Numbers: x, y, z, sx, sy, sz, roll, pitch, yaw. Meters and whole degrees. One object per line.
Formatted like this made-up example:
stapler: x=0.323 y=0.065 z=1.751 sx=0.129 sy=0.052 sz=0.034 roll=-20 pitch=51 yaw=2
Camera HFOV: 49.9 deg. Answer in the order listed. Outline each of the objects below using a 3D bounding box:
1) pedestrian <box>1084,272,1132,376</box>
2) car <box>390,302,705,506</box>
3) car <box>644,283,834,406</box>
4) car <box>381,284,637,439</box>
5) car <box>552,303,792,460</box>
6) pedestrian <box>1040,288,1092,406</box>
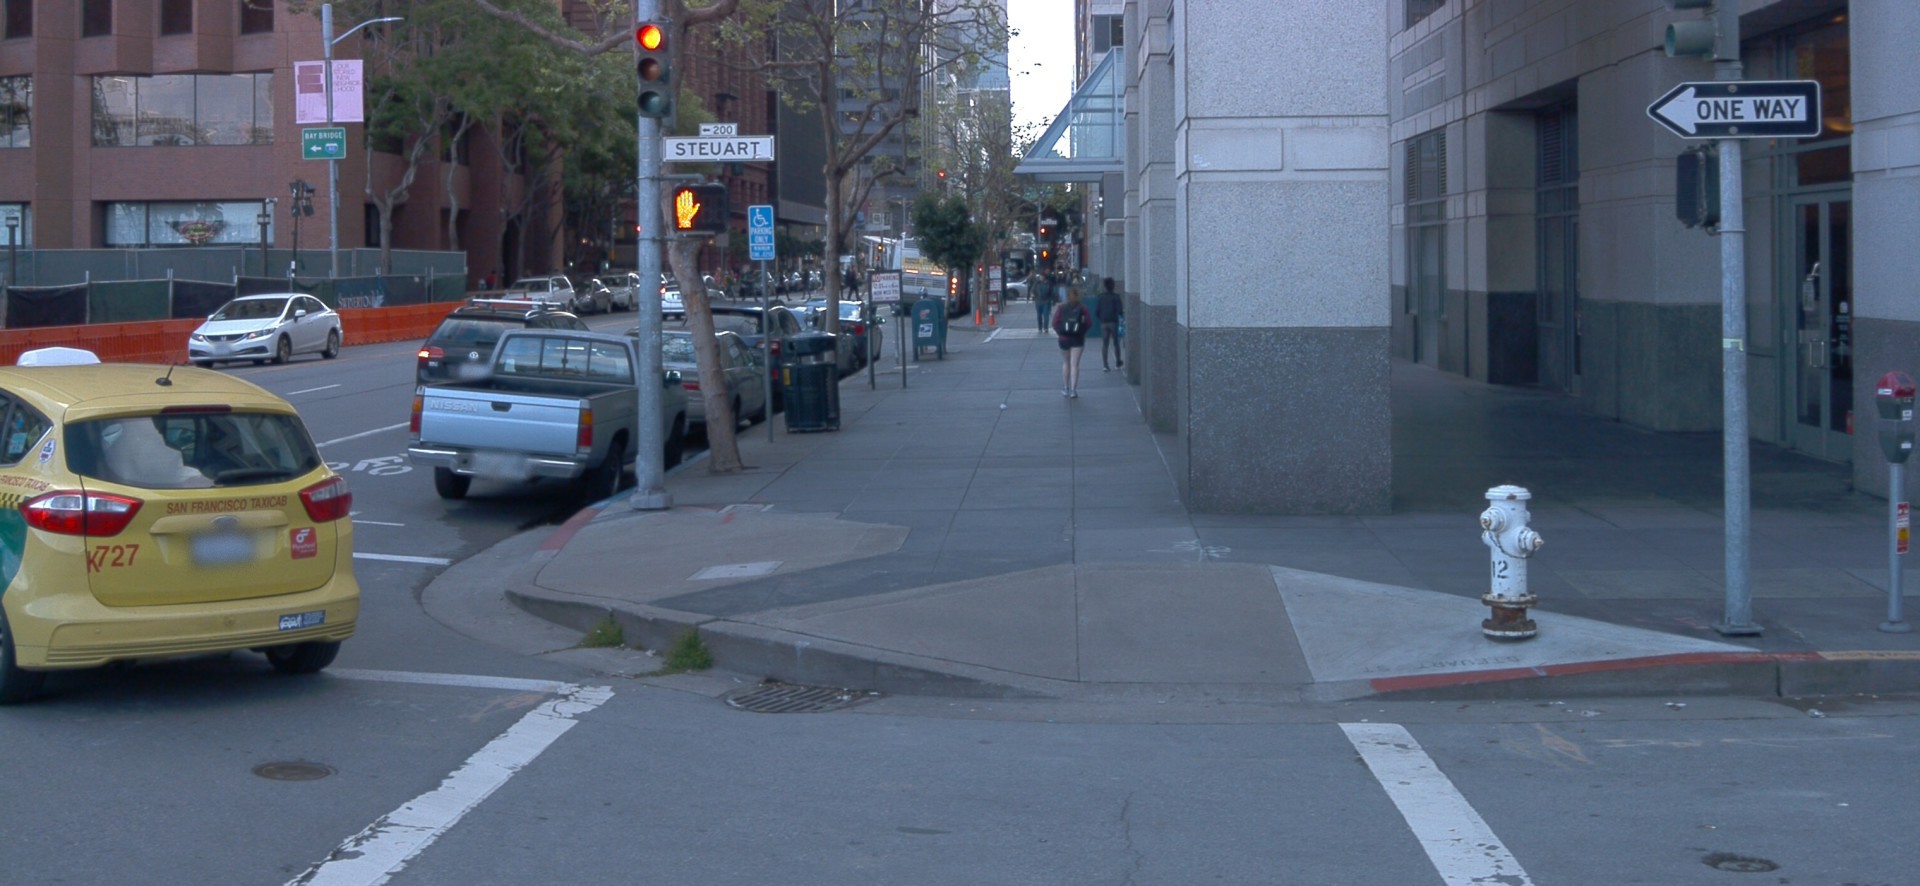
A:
pedestrian: x=2.629 y=-2.113 z=36.567 sx=0.713 sy=1.810 sz=0.742 roll=0 pitch=1 yaw=16
car: x=-3.852 y=-0.502 z=20.149 sx=1.863 sy=1.604 sz=4.695 roll=0 pitch=5 yaw=4
car: x=-3.333 y=-1.607 z=32.185 sx=2.261 sy=1.663 sz=4.949 roll=0 pitch=5 yaw=2
car: x=-5.741 y=-1.140 z=26.841 sx=2.035 sy=1.754 sz=4.228 roll=0 pitch=5 yaw=6
car: x=-3.508 y=-0.863 z=26.077 sx=2.108 sy=1.654 sz=4.603 roll=0 pitch=5 yaw=4
pedestrian: x=1.528 y=-1.398 z=29.663 sx=0.720 sy=1.649 sz=0.900 roll=0 pitch=1 yaw=5
